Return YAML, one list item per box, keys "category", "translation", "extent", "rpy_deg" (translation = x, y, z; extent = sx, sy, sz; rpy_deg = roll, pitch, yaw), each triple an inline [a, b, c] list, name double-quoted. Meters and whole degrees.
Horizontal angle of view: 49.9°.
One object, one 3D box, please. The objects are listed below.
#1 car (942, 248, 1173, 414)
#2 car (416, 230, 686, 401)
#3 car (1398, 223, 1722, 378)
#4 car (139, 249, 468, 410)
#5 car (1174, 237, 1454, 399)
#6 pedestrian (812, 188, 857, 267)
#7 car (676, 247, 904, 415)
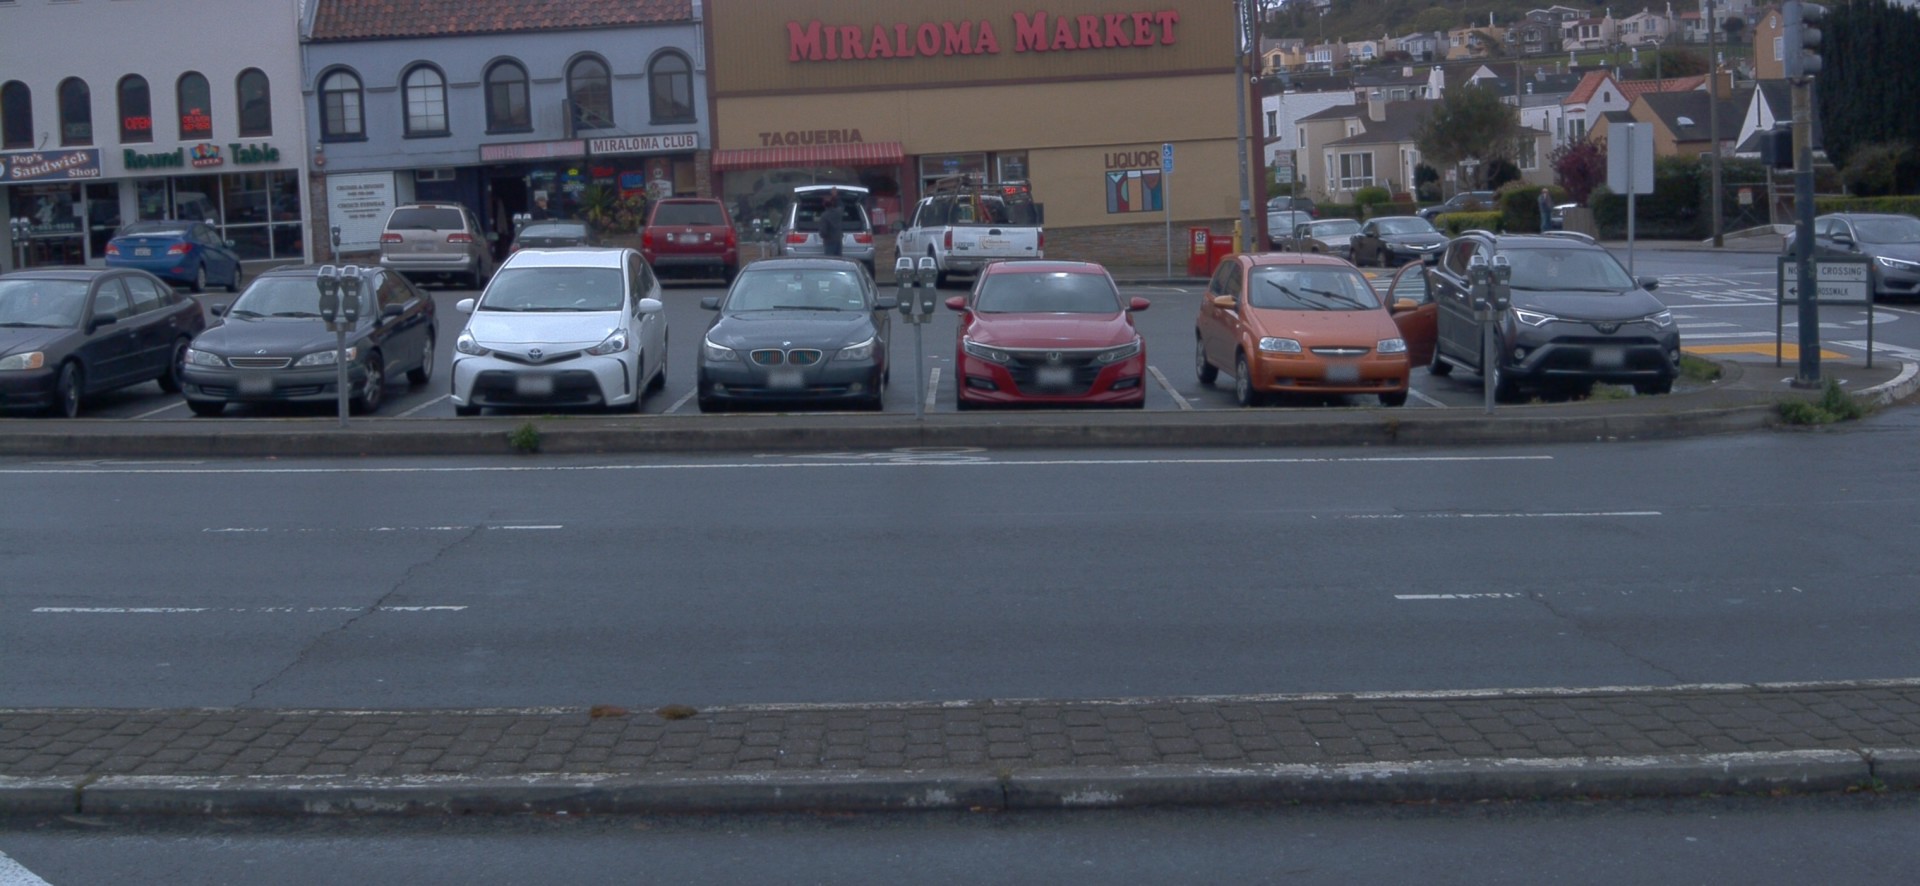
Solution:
- category: "car"
  translation: [0.907, -1.279, 21.830]
  extent: [2.185, 1.461, 4.636]
  rpy_deg: [0, 6, -1]
- category: "car"
  translation: [-4.070, -1.419, 21.328]
  extent: [2.132, 1.491, 4.678]
  rpy_deg: [0, 6, -4]
- category: "car"
  translation: [6.389, -1.646, 22.575]
  extent: [2.205, 1.461, 4.580]
  rpy_deg: [0, 6, 0]
- category: "car"
  translation: [-6.718, -1.285, 21.703]
  extent: [2.023, 1.392, 4.712]
  rpy_deg: [0, 6, -1]
- category: "car"
  translation: [3.612, -1.399, 21.804]
  extent: [2.049, 1.462, 4.037]
  rpy_deg: [0, 6, -4]
- category: "pedestrian"
  translation: [-2.367, -4.073, 38.917]
  extent: [0.706, 1.457, 0.721]
  rpy_deg: [-1, 2, -18]
- category: "car"
  translation: [-1.657, -1.271, 21.658]
  extent: [2.112, 1.461, 4.574]
  rpy_deg: [0, 6, -1]
